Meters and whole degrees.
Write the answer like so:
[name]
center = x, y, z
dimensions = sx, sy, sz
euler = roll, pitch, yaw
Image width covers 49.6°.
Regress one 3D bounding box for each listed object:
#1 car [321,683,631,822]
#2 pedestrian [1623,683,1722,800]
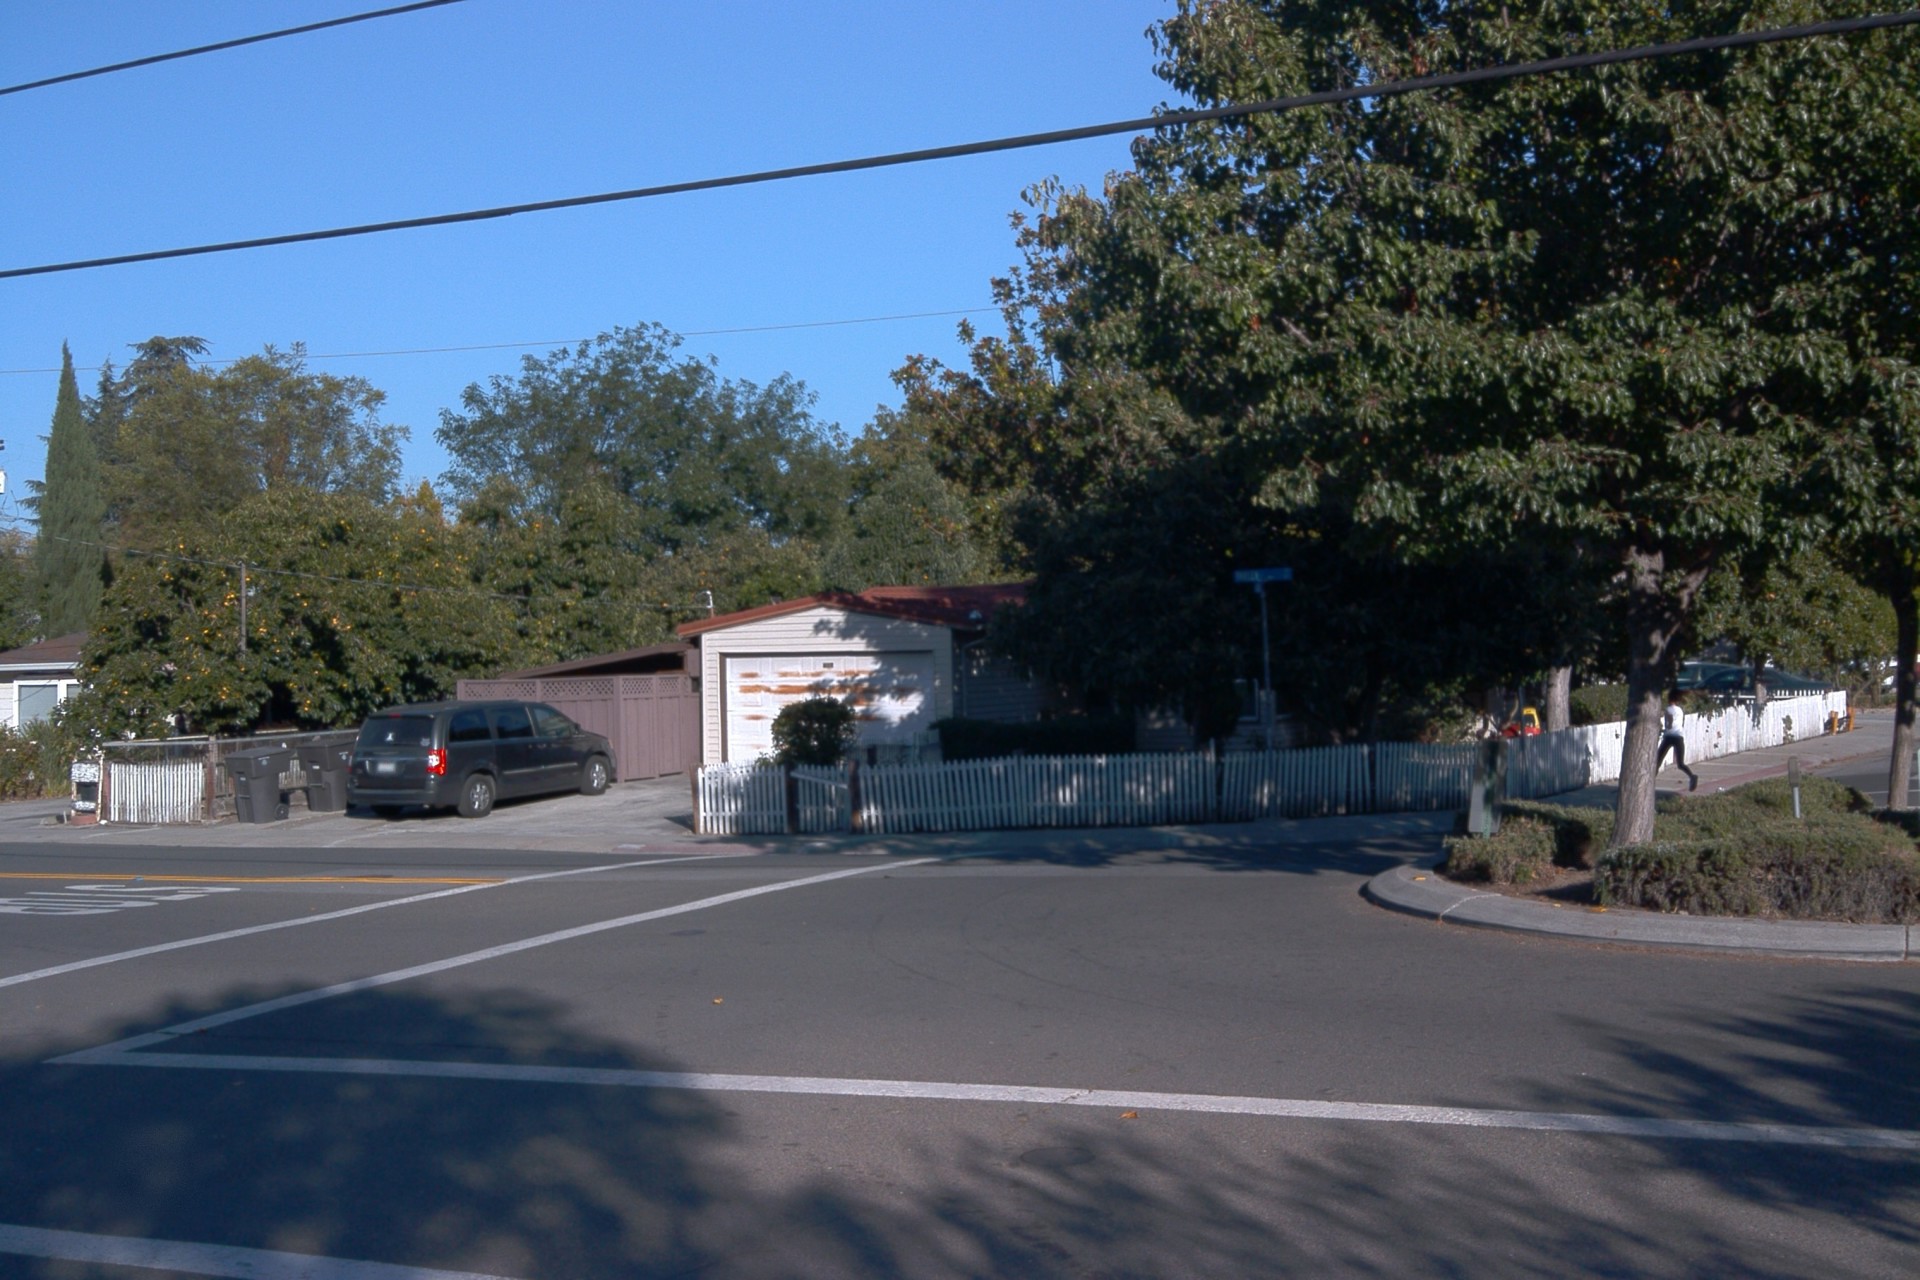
[car]
center = -7.568, 1.701, 33.092
dimensions = 2.140, 1.930, 4.988
euler = 1, 0, 25
[pedestrian]
center = 10.047, 1.415, 29.338
dimensions = 0.845, 1.580, 1.171
euler = 1, 0, -11
